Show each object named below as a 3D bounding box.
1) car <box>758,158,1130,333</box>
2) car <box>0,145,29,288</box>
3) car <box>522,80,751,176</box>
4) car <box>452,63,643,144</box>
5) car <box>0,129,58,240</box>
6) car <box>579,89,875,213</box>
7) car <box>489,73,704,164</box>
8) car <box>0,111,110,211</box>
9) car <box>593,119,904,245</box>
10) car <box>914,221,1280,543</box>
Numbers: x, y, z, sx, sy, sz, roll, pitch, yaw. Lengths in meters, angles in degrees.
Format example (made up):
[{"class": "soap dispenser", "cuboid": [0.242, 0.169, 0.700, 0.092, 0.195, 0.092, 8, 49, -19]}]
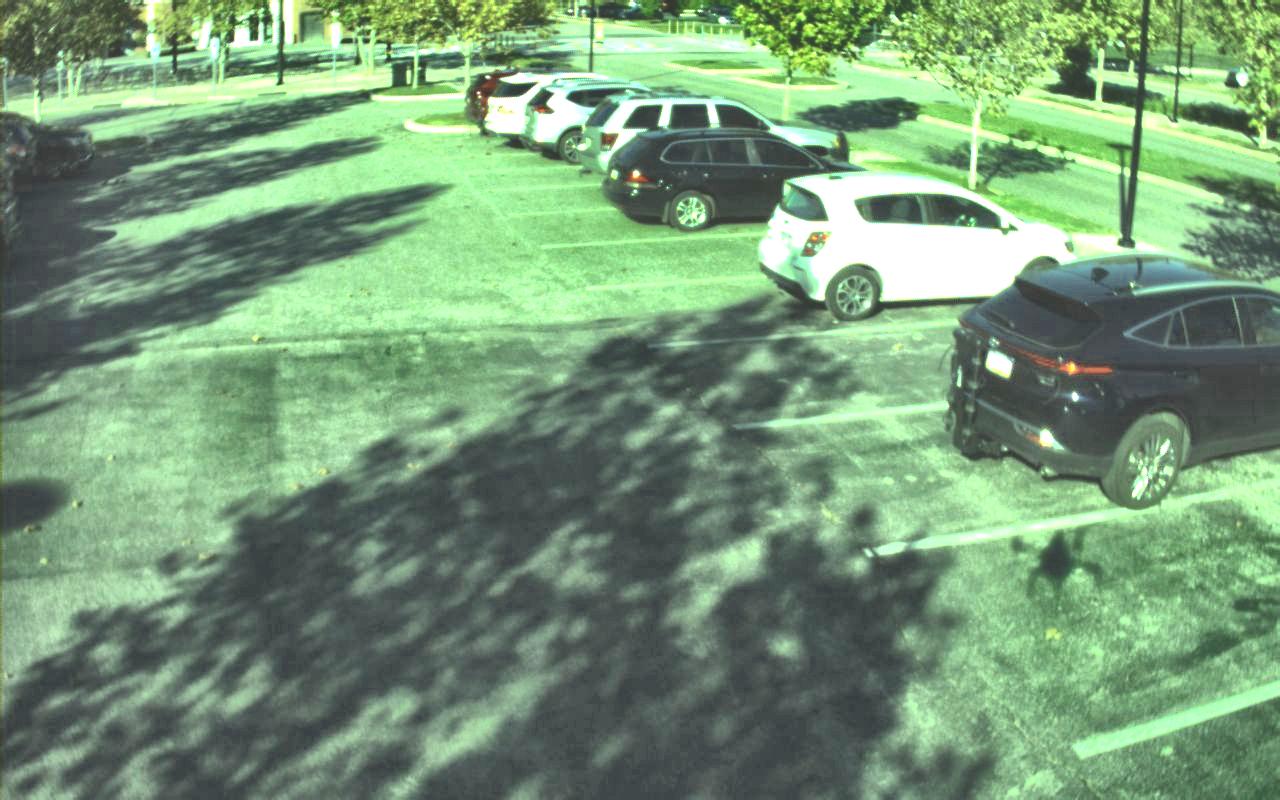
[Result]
[{"class": "car", "cuboid": [3.671, -1.957, 14.711, 4.164, 1.630, 1.890, -6, 17, -15]}, {"class": "car", "cuboid": [-12.502, -3.032, 17.764, 4.469, 1.647, 1.977, -7, 17, -18]}, {"class": "car", "cuboid": [-0.106, -5.849, 26.545, 4.520, 1.763, 1.979, -5, 17, -14]}, {"class": "car", "cuboid": [-2.389, -7.562, 31.440, 4.514, 1.771, 2.007, -6, 17, -17]}, {"class": "car", "cuboid": [-14.622, -4.483, 22.842, 4.485, 1.672, 1.993, -4, 17, -11]}, {"class": "car", "cuboid": [1.510, -4.457, 21.868, 4.805, 1.852, 2.057, -5, 17, -14]}, {"class": "car", "cuboid": [-1.046, -6.586, 28.826, 4.630, 1.800, 2.021, -6, 17, -16]}, {"class": "car", "cuboid": [-14.562, -5.483, 25.649, 4.490, 1.641, 1.969, -6, 17, -15]}, {"class": "car", "cuboid": [1.687, -3.480, 19.495, 4.486, 1.565, 1.937, -6, 17, -16]}, {"class": "car", "cuboid": [4.704, -0.372, 9.685, 4.600, 1.754, 1.996, -7, 17, -19]}]
